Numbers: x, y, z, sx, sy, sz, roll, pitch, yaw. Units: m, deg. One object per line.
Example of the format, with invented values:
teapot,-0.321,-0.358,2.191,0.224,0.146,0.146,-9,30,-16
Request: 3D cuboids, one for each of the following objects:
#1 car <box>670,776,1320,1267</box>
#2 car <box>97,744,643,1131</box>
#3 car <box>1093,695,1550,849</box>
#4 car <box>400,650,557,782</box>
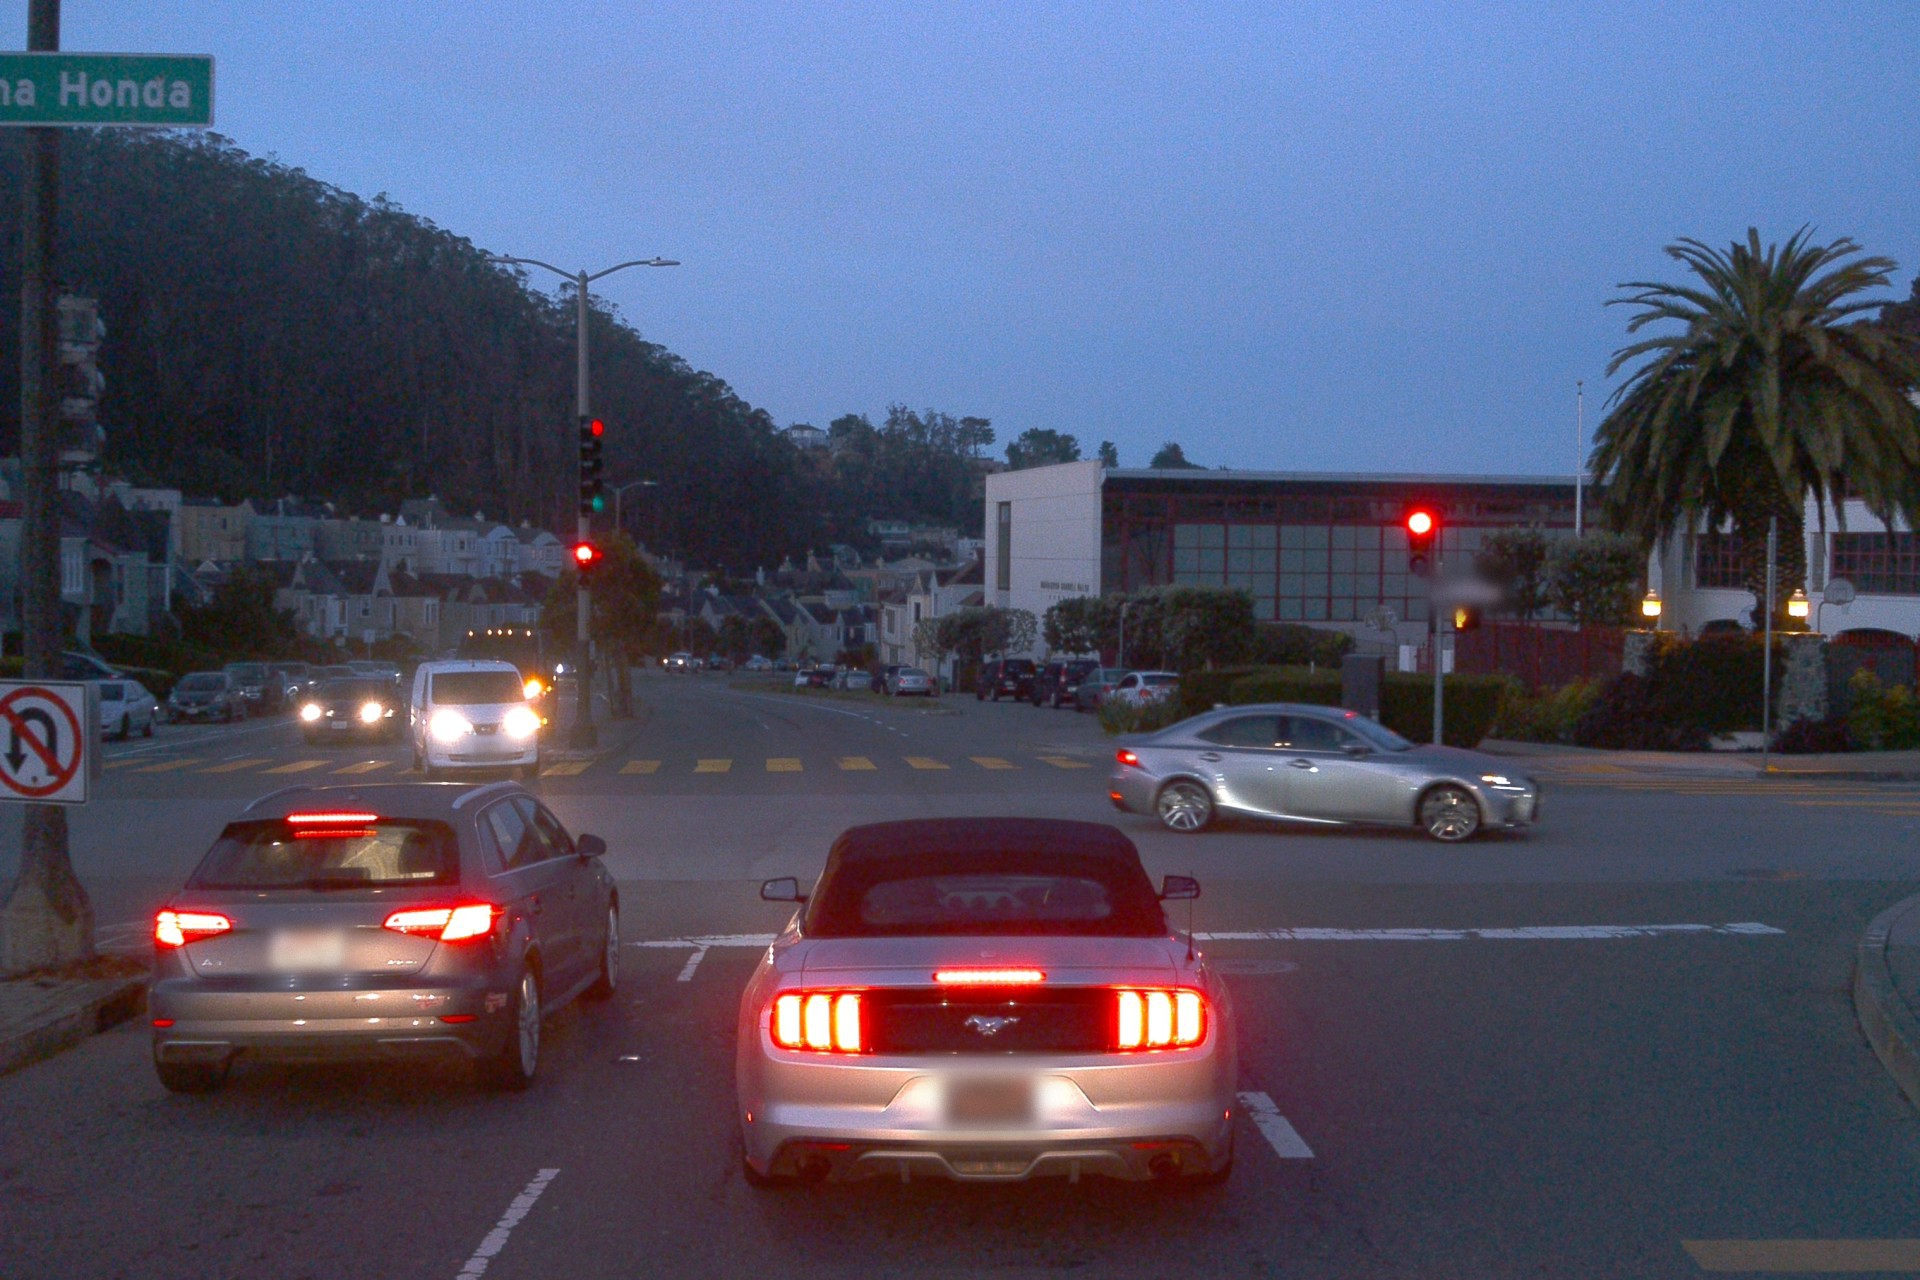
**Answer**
car,0.099,1.421,9.110,2.174,1.380,4.355,0,0,0
car,-2.886,1.403,11.058,1.782,1.510,3.987,0,0,0
car,4.022,1.399,23.067,4.670,1.490,2.028,0,0,23
car,-7.978,1.169,34.017,2.100,2.000,4.846,0,0,-18
